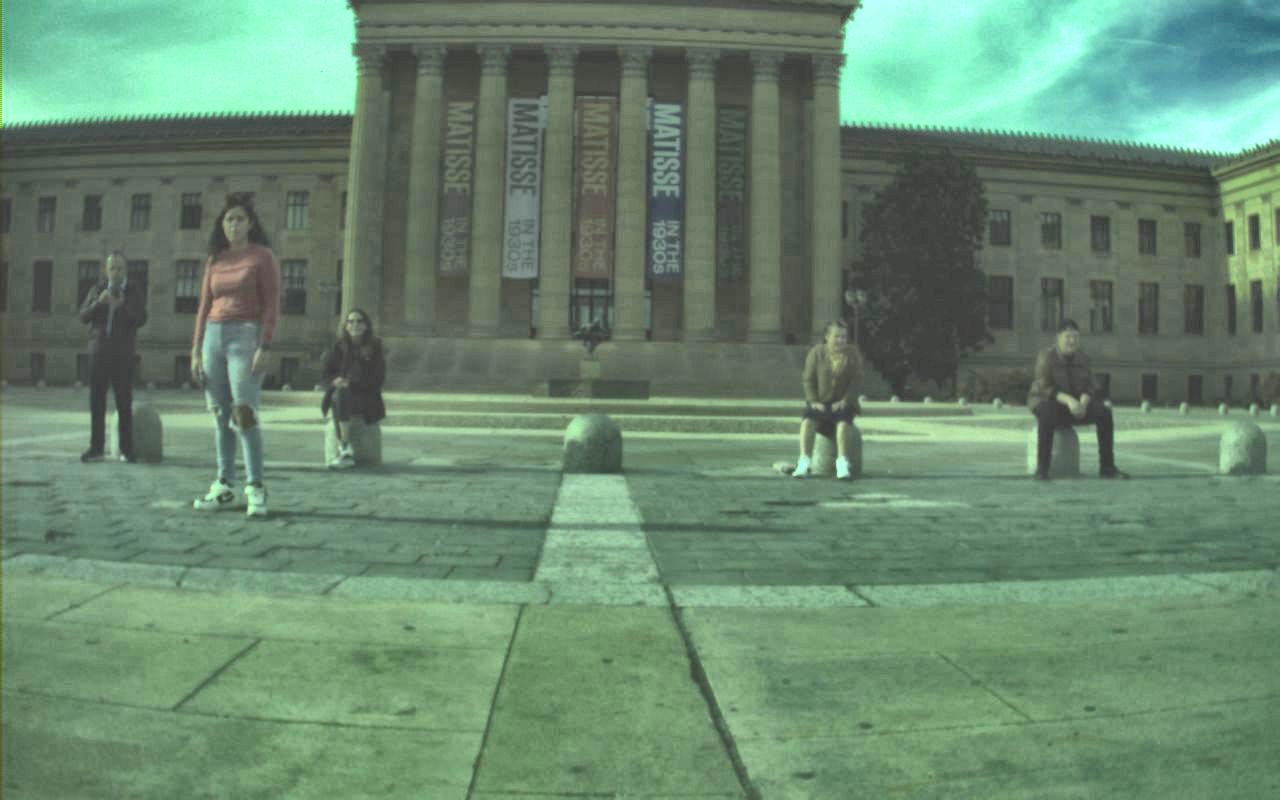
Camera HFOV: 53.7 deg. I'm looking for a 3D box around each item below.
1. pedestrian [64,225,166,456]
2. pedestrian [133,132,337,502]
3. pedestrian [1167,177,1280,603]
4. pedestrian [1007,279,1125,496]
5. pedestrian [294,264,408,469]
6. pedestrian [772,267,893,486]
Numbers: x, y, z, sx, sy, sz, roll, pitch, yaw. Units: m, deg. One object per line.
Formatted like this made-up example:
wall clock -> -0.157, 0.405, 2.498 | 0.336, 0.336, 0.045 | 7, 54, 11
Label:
pedestrian -> -4.142, -0.437, 9.090 | 0.775, 1.732, 0.797 | 0, 0, -29
pedestrian -> -2.041, -0.396, 6.042 | 0.758, 1.720, 0.779 | 0, 0, 12
pedestrian -> 2.978, -0.036, 5.112 | 0.829, 1.776, 0.859 | 0, 0, -32
pedestrian -> 3.433, -0.091, 9.749 | 0.812, 1.682, 0.826 | 0, 0, 7
pedestrian -> -2.251, -0.258, 9.643 | 0.796, 1.536, 0.827 | 0, 0, -6
pedestrian -> 1.488, -0.177, 9.751 | 0.791, 1.625, 0.813 | 0, 0, -3
